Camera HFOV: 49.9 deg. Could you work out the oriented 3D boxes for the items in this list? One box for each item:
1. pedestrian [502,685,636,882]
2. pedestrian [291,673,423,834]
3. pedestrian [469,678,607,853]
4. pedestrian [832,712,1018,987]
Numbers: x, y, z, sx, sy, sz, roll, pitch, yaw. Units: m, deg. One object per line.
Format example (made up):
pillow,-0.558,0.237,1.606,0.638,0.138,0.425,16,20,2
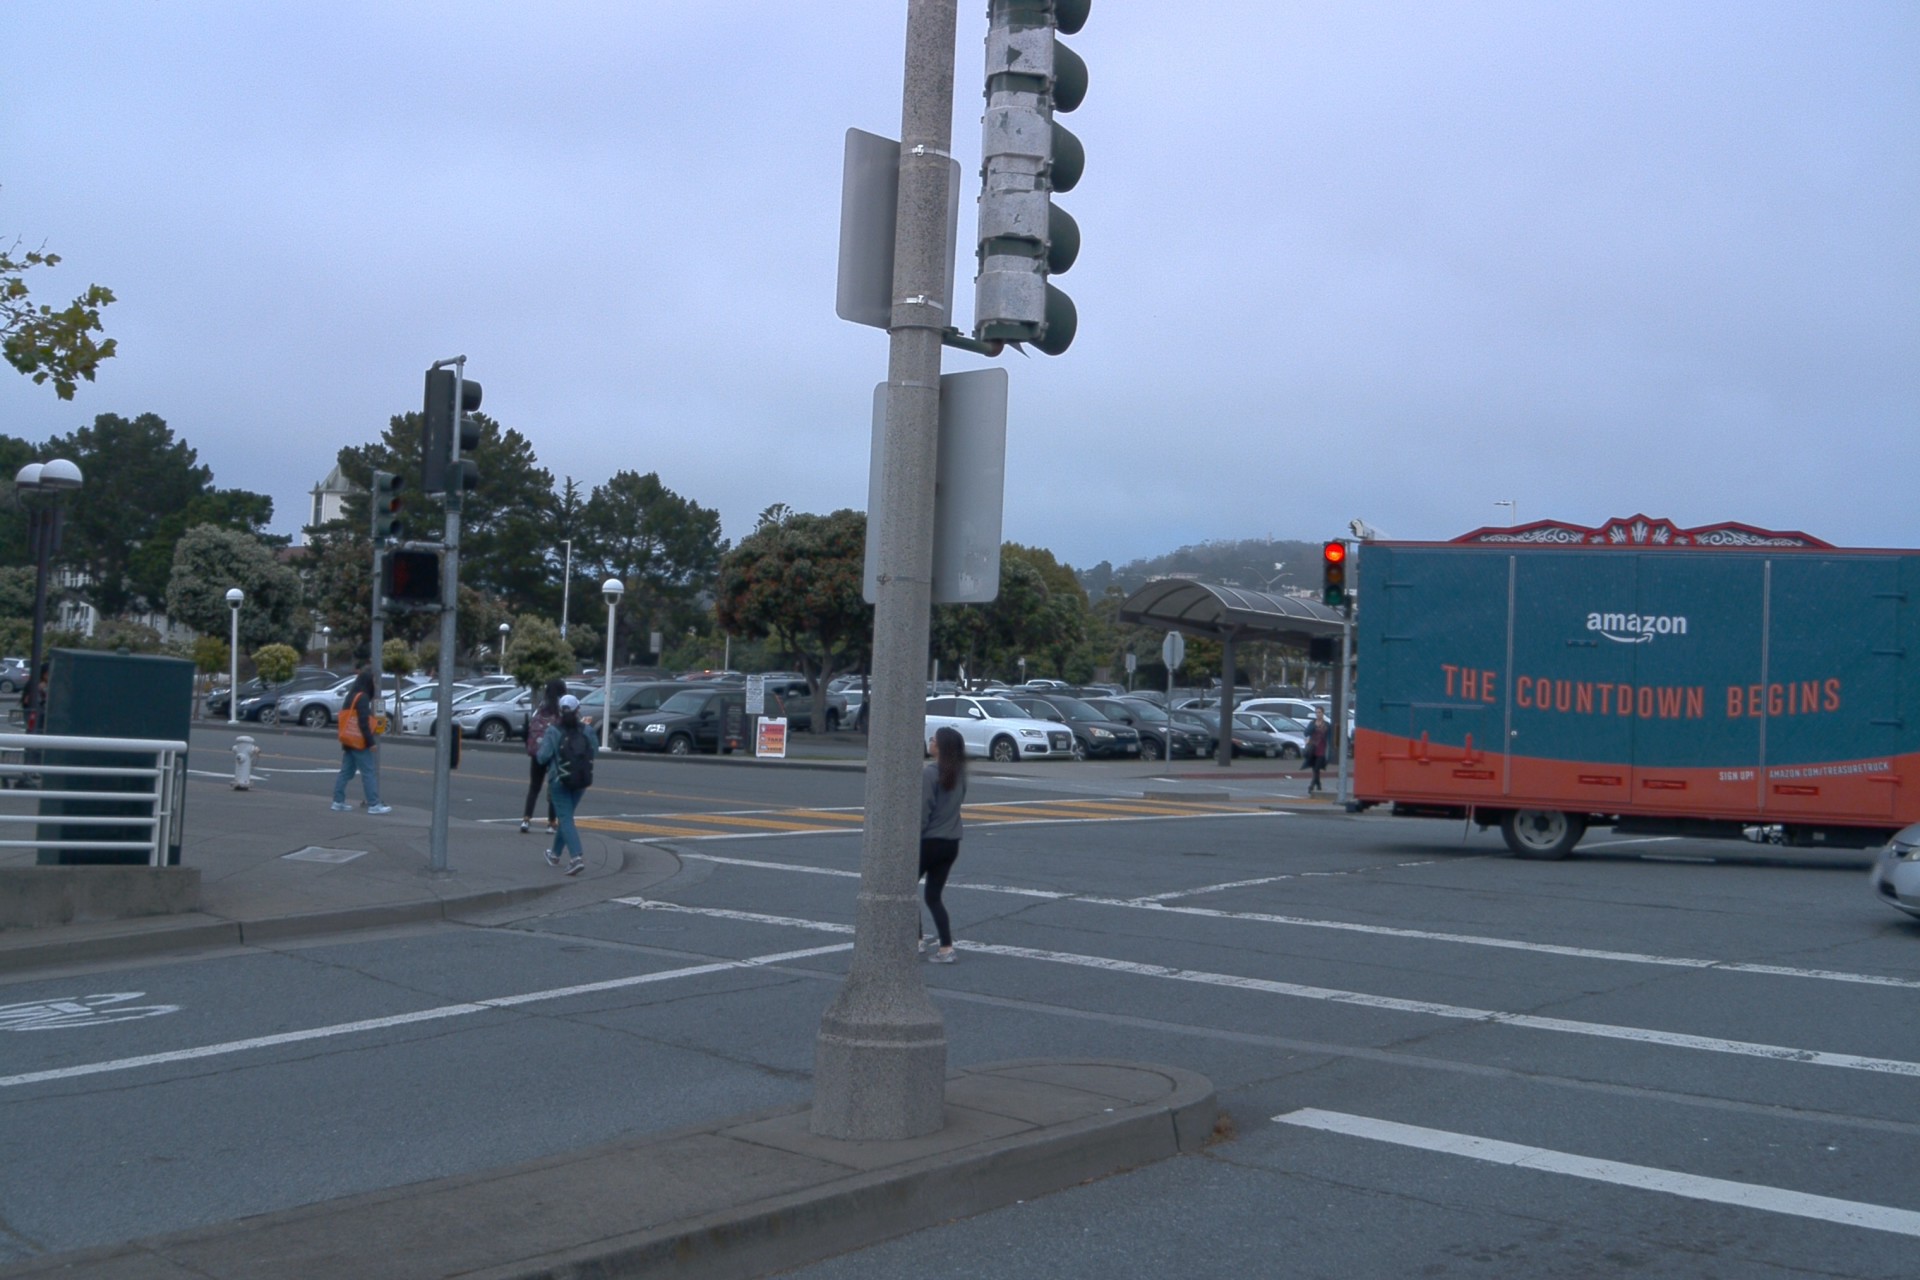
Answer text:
pedestrian,-3.489,1.248,18.383,0.764,1.650,1.009,-1,1,-41
pedestrian,-6.652,1.225,22.783,1.085,1.690,0.921,-1,1,-44
pedestrian,-4.266,1.243,20.881,0.908,1.670,1.002,0,1,37
pedestrian,-0.226,1.317,13.358,0.928,1.650,0.750,0,1,39
